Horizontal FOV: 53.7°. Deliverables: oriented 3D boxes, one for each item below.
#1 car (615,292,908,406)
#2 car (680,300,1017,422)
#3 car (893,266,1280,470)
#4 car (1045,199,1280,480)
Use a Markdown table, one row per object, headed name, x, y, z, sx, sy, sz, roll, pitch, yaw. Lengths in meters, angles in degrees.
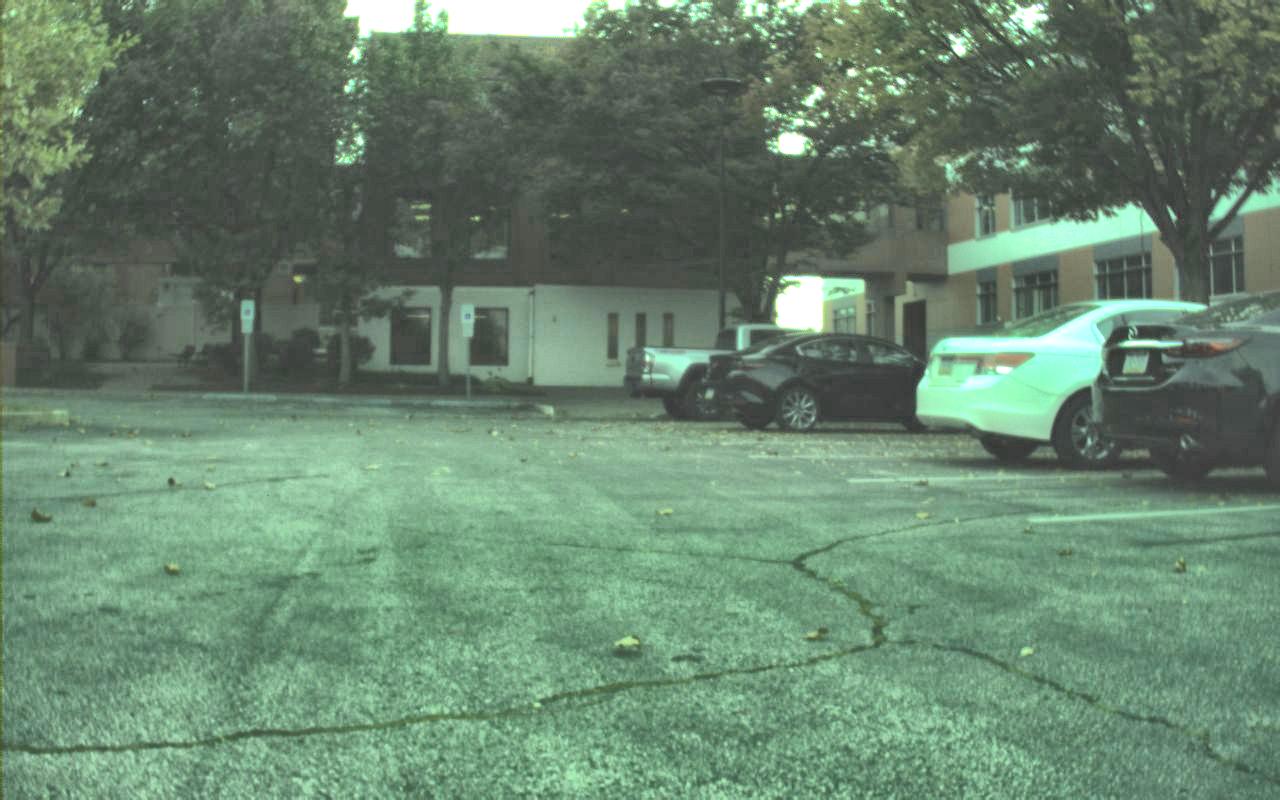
| name | x | y | z | sx | sy | sz | roll | pitch | yaw |
| --- | --- | --- | --- | --- | --- | --- | --- | --- | --- |
| car | 2.193 | -0.890 | 23.125 | 5.024 | 1.946 | 2.115 | 0 | 1 | -11 |
| car | 3.086 | -0.544 | 18.223 | 4.609 | 1.602 | 1.965 | 0 | 1 | -19 |
| car | 4.672 | -0.252 | 10.618 | 4.545 | 1.558 | 1.934 | 0 | 1 | -7 |
| car | 5.268 | -0.362 | 8.167 | 4.421 | 1.655 | 1.949 | 0 | 1 | -10 |
